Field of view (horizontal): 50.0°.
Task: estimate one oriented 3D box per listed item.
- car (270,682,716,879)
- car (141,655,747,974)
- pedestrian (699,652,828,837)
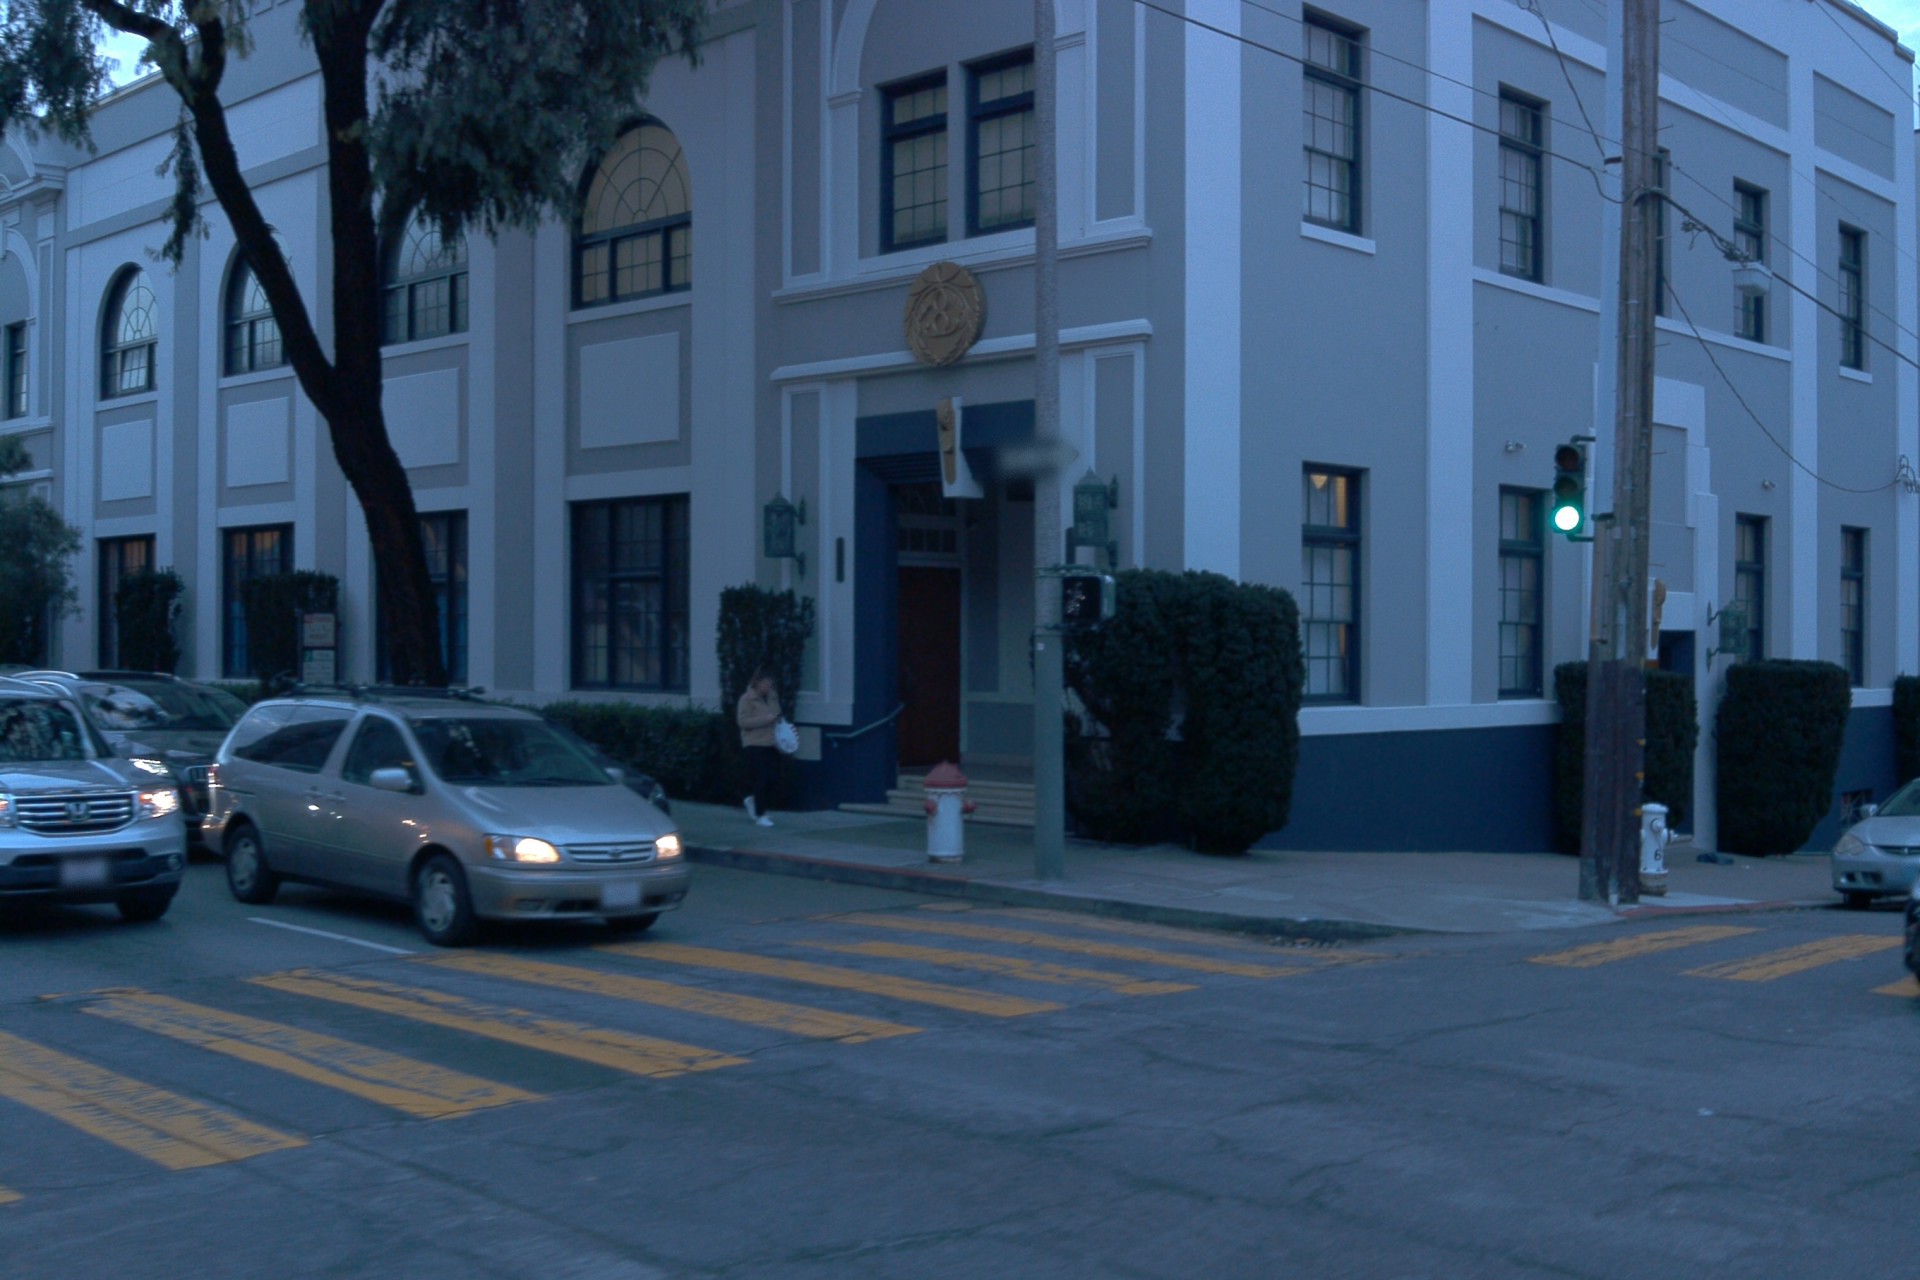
[{"bbox_3d":[-4.910,1.329,21.174,4.891,1.610,2.152,1,1,44],"label":"car"},{"bbox_3d":[-4.117,1.152,15.855,4.978,1.950,2.238,1,1,44],"label":"car"},{"bbox_3d":[-2.108,1.091,22.075,1.087,1.903,0.865,1,1,44],"label":"pedestrian"}]
